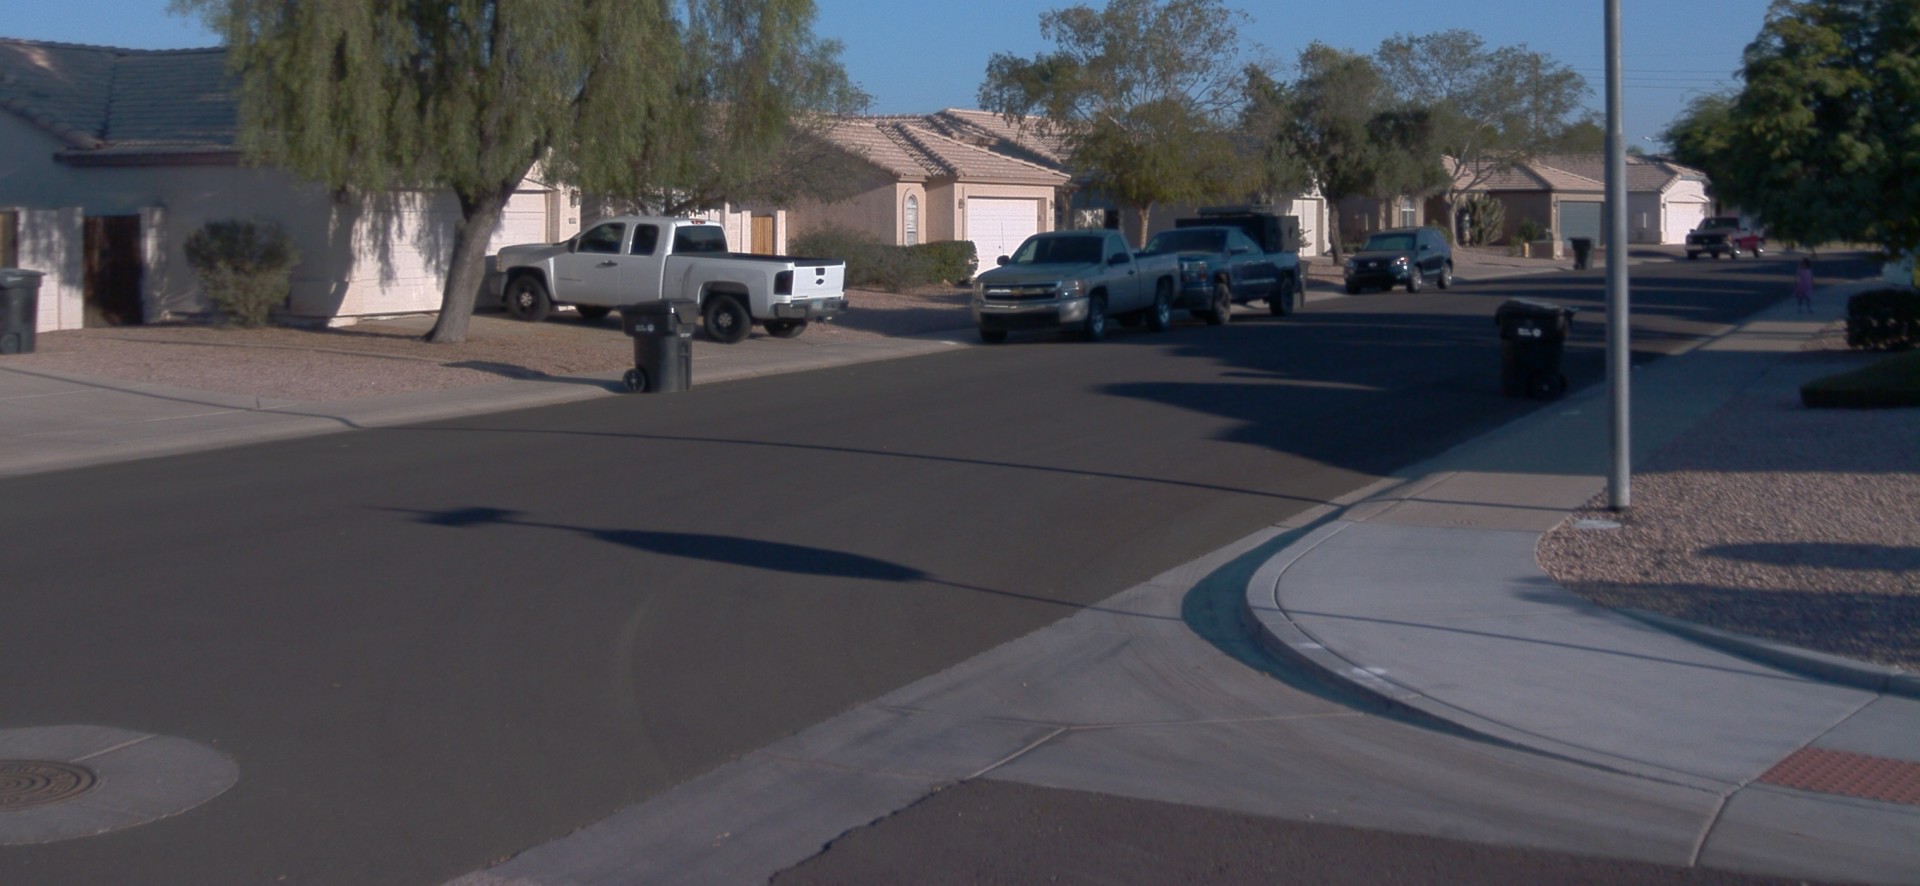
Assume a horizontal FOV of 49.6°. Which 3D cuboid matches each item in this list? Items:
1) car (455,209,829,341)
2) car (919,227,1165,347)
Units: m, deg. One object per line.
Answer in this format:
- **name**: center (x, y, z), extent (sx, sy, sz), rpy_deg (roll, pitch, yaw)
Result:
- **car**: center (-5.182, -2.736, 33.740), extent (5.751, 2.017, 2.119), rpy_deg (2, 3, 24)
- **car**: center (1.543, -2.773, 36.213), extent (2.284, 1.914, 5.419), rpy_deg (1, 5, 26)
